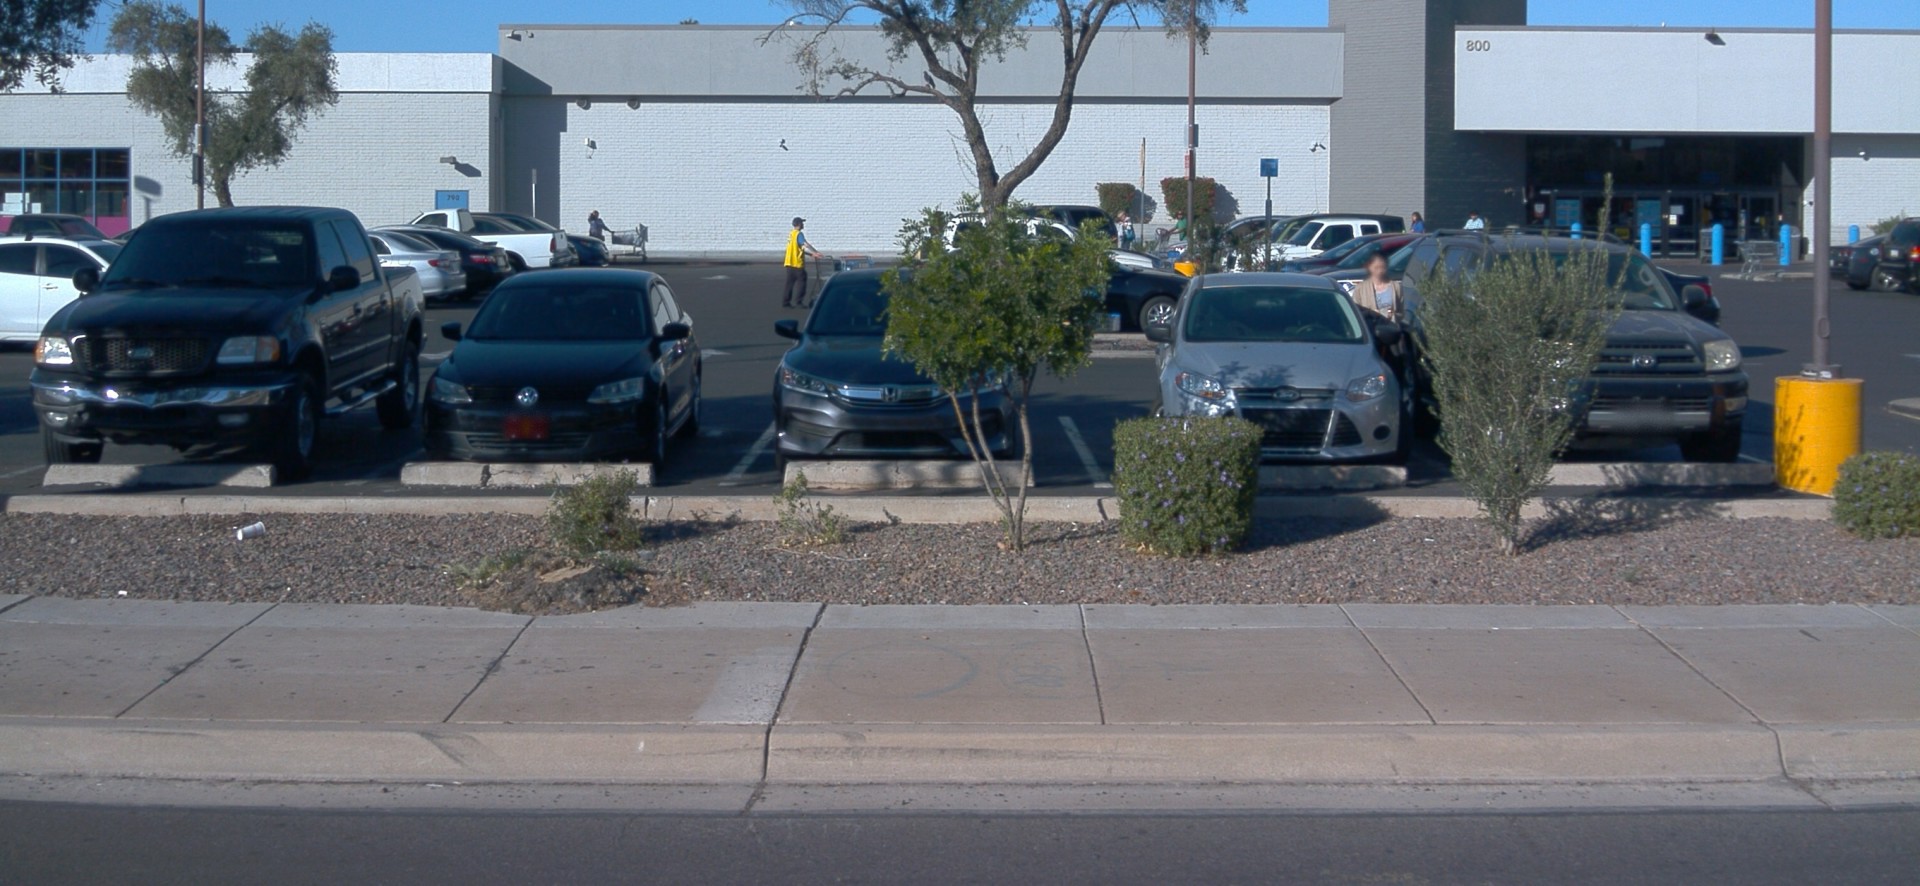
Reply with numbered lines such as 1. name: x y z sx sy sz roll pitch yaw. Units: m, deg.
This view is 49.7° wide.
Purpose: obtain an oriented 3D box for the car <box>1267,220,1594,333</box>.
1. car: 6.928 -2.487 30.746 4.379 1.598 1.878 0 3 -7

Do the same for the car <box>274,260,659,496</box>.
1. car: -3.669 -0.646 16.329 1.974 1.544 4.632 0 5 -1

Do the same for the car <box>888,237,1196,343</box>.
1. car: 1.179 -2.320 31.201 4.492 1.537 2.027 0 4 -2

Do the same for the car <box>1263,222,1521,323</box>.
1. car: 6.851 -2.731 33.097 3.732 1.558 1.665 0 3 -5

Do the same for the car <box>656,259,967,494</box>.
1. car: -0.998 -0.659 16.402 2.085 1.544 4.718 0 5 0

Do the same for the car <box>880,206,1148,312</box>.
1. car: 0.989 -3.288 36.905 4.629 1.808 2.039 0 3 3

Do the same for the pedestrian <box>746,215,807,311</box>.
1. pedestrian: -3.413 -3.349 38.526 0.798 1.750 0.798 1 1 39

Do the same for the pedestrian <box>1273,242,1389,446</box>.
1. pedestrian: 3.121 -0.858 17.512 0.786 1.670 1.013 0 1 -1

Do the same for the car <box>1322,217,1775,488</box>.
1. car: 4.474 -0.867 16.720 2.138 1.843 5.090 0 5 -1

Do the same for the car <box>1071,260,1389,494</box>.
1. car: 2.044 -0.651 16.310 2.136 1.524 4.540 0 5 5
